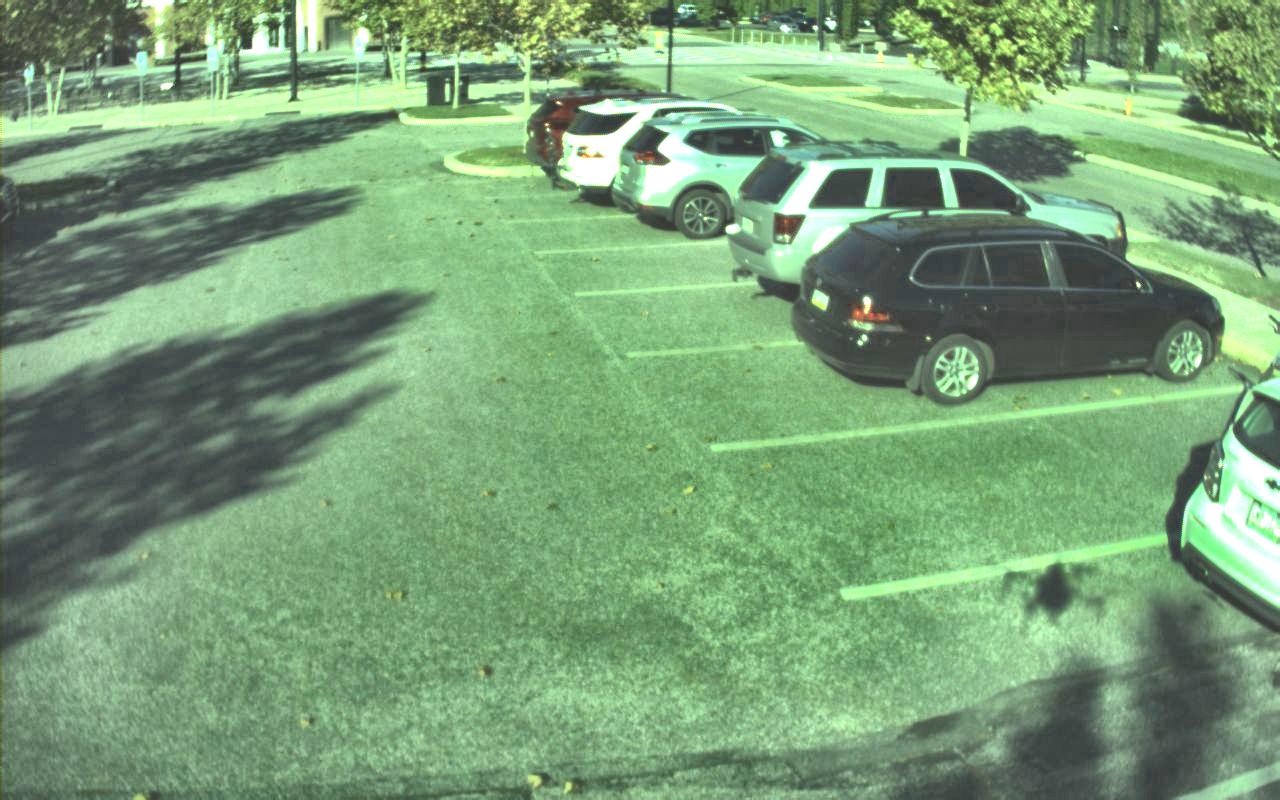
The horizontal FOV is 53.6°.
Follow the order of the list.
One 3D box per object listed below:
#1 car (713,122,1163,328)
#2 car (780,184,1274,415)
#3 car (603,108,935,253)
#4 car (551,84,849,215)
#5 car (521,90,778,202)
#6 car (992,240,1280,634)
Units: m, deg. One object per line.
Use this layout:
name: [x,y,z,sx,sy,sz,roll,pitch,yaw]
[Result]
car: [3.378,-2.098,13.718,4.748,1.870,2.050,-5,17,-13]
car: [3.704,-1.084,11.315,4.471,1.552,1.927,-5,17,-13]
car: [1.899,-3.342,18.491,4.550,1.797,1.994,-5,17,-13]
car: [0.991,-4.266,20.804,4.594,1.845,2.016,-6,17,-16]
car: [0.154,-4.833,23.439,4.465,1.758,1.985,-6,17,-15]
car: [4.716,-0.007,8.582,4.470,1.661,1.953,-14,20,-36]
